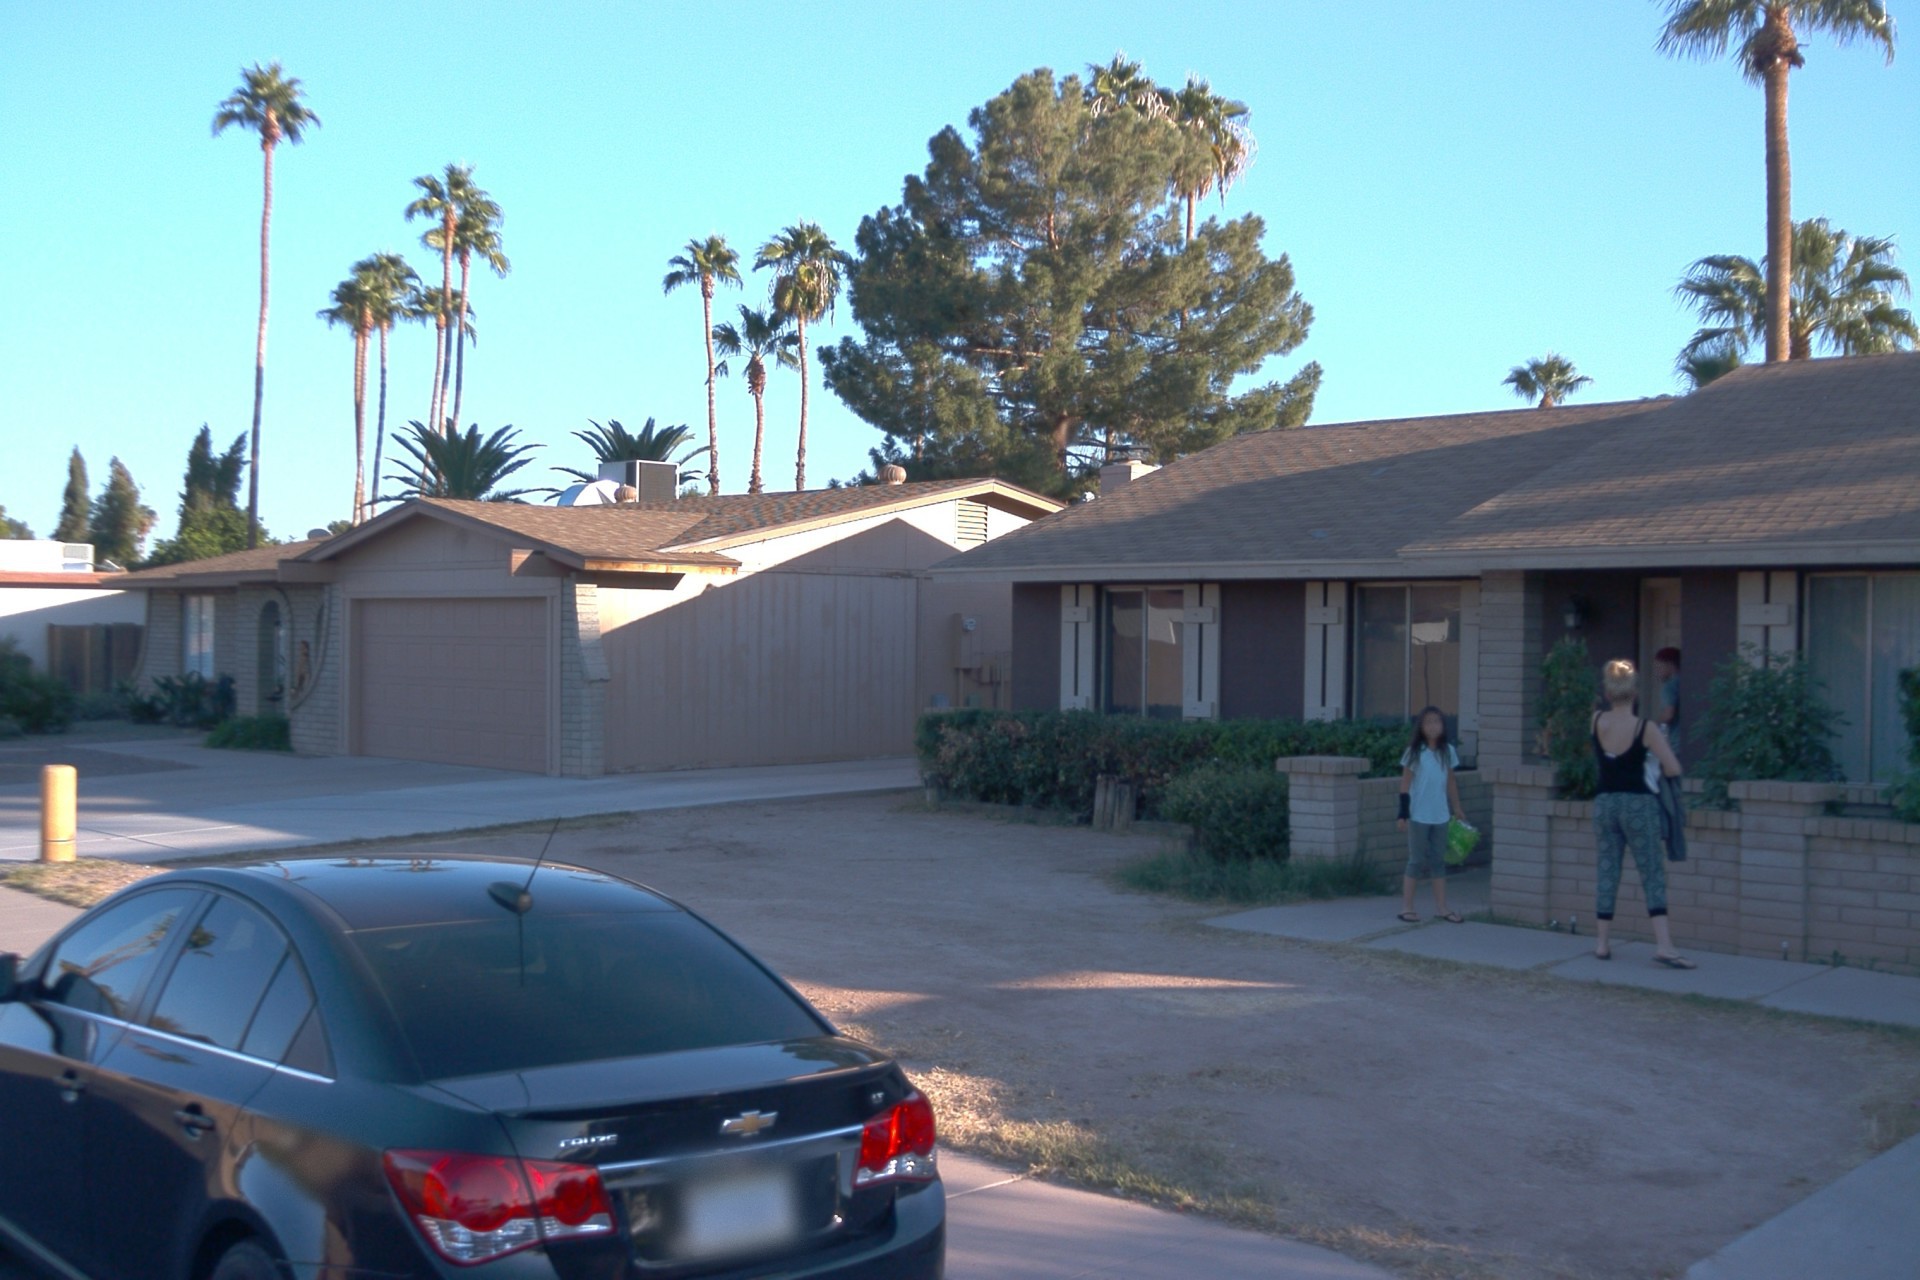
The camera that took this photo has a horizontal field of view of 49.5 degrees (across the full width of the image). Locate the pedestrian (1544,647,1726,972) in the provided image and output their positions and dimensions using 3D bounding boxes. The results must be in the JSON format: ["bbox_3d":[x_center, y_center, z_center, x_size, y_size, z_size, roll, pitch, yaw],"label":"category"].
[{"bbox_3d":[3.845,0.921,11.837,0.877,1.750,0.826,1,0,25],"label":"pedestrian"}]

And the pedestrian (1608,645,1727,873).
[{"bbox_3d":[5.526,0.906,16.266,0.670,1.730,0.661,1,0,39],"label":"pedestrian"}]

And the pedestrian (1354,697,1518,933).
[{"bbox_3d":[3.009,1.091,13.231,0.755,1.430,0.745,1,0,-12],"label":"pedestrian"}]
